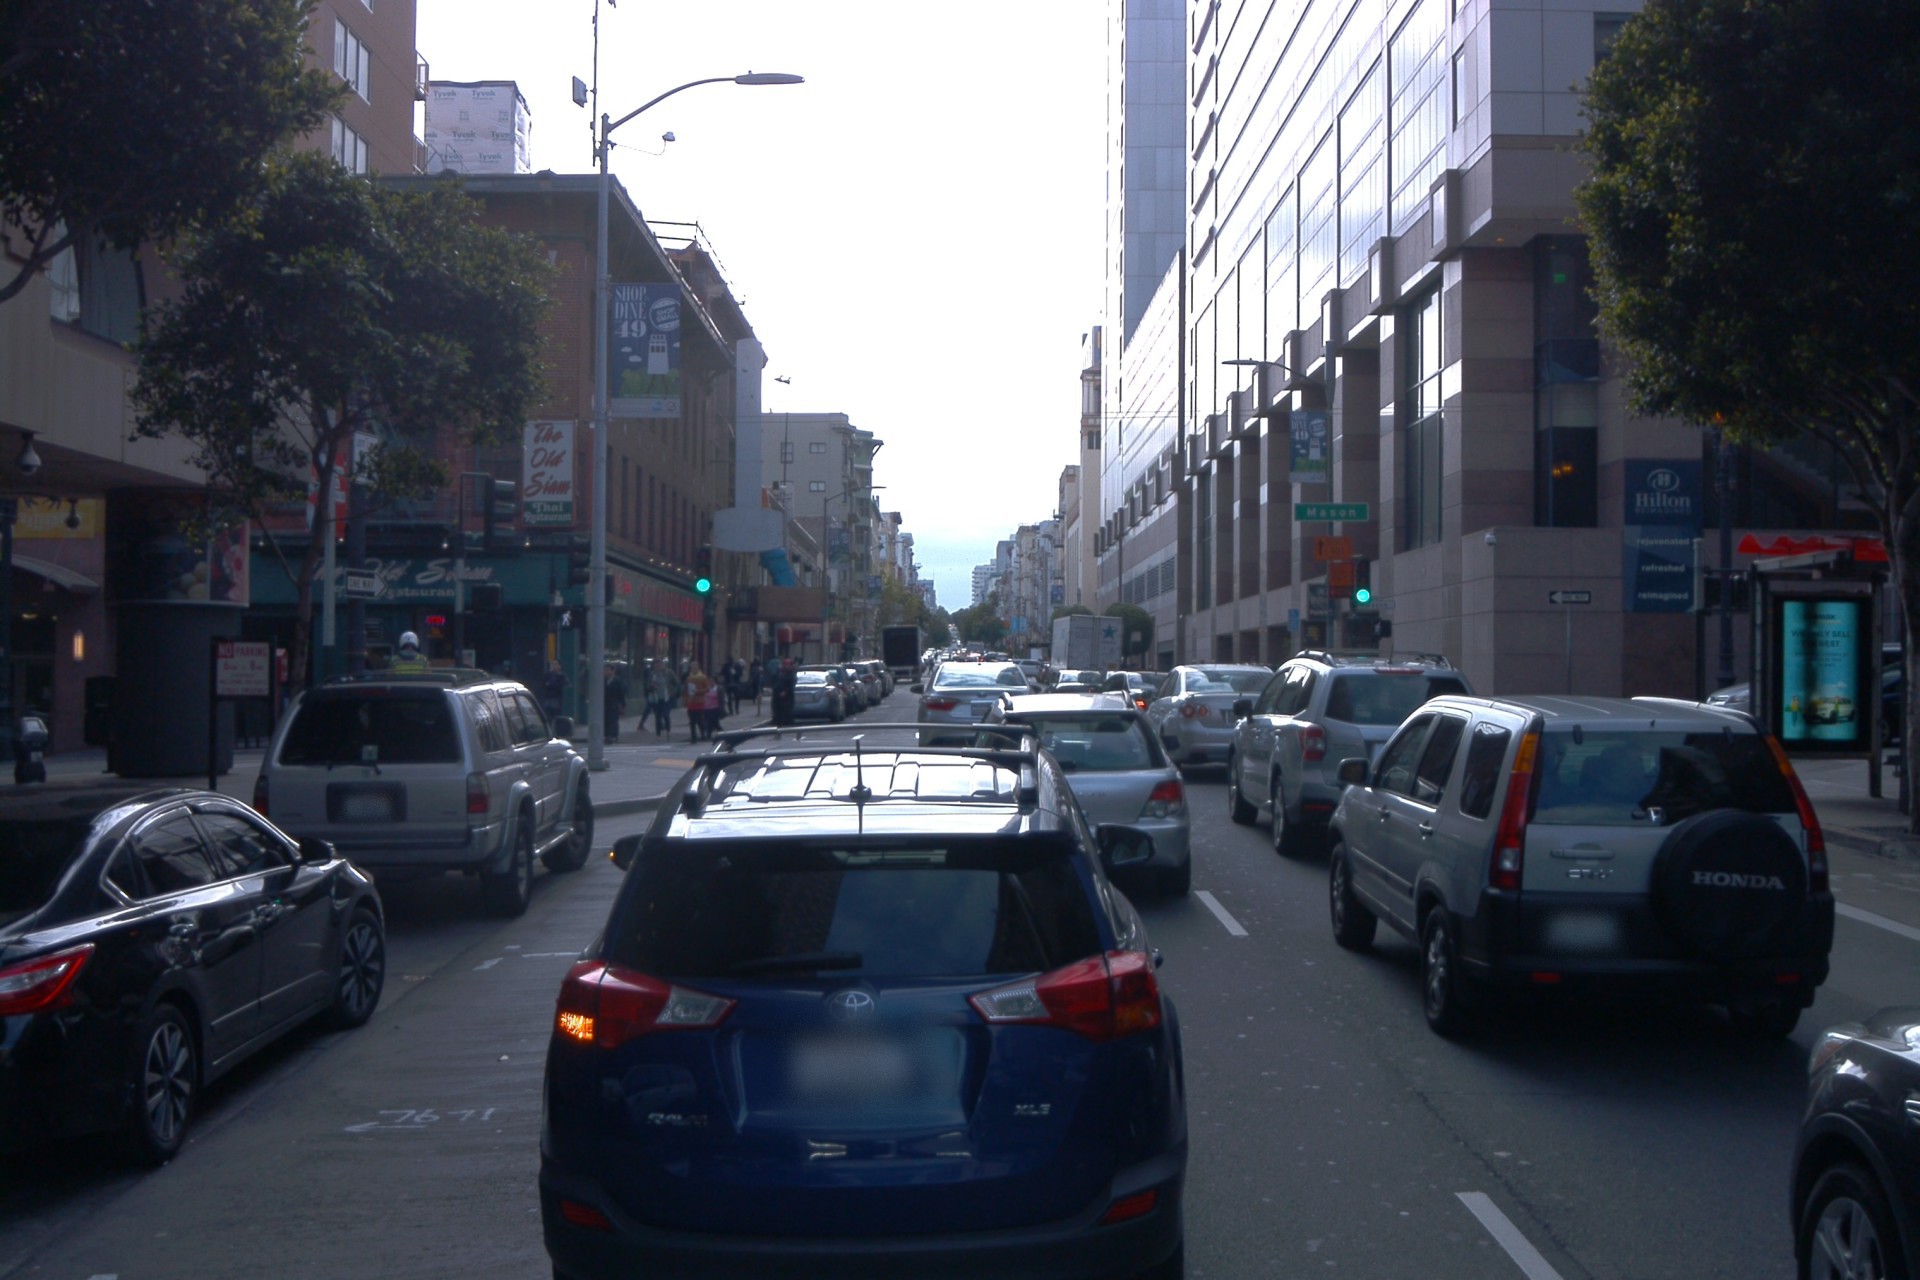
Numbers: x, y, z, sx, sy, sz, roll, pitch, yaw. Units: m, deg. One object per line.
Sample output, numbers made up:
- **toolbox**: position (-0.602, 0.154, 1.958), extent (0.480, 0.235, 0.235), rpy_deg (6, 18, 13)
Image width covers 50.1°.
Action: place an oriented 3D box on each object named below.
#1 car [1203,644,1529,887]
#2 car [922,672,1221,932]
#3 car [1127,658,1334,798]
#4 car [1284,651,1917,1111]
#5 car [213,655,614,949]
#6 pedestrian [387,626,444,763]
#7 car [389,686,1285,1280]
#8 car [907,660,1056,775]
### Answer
- **car**: position (3.522, 1.010, 18.772), extent (2.029, 1.870, 4.665), rpy_deg (0, 1, 0)
- **car**: position (0.811, 1.143, 16.344), extent (2.030, 1.630, 4.708), rpy_deg (0, 1, 1)
- **car**: position (3.468, 1.087, 27.249), extent (2.063, 1.590, 4.797), rpy_deg (0, 1, -1)
- **car**: position (3.135, 1.057, 11.193), extent (1.983, 1.910, 4.572), rpy_deg (0, 1, 0)
- **car**: position (-4.072, 1.105, 16.179), extent (1.995, 1.880, 4.690), rpy_deg (0, 1, -1)
- **pedestrian**: position (-7.591, 0.751, 28.675), extent (0.704, 1.880, 0.662), rpy_deg (0, 1, -10)
- **car**: position (-0.293, 1.164, 7.300), extent (2.184, 1.830, 4.555), rpy_deg (0, 1, 0)
- **car**: position (0.280, 1.112, 31.118), extent (2.074, 1.500, 4.589), rpy_deg (0, 1, 0)
